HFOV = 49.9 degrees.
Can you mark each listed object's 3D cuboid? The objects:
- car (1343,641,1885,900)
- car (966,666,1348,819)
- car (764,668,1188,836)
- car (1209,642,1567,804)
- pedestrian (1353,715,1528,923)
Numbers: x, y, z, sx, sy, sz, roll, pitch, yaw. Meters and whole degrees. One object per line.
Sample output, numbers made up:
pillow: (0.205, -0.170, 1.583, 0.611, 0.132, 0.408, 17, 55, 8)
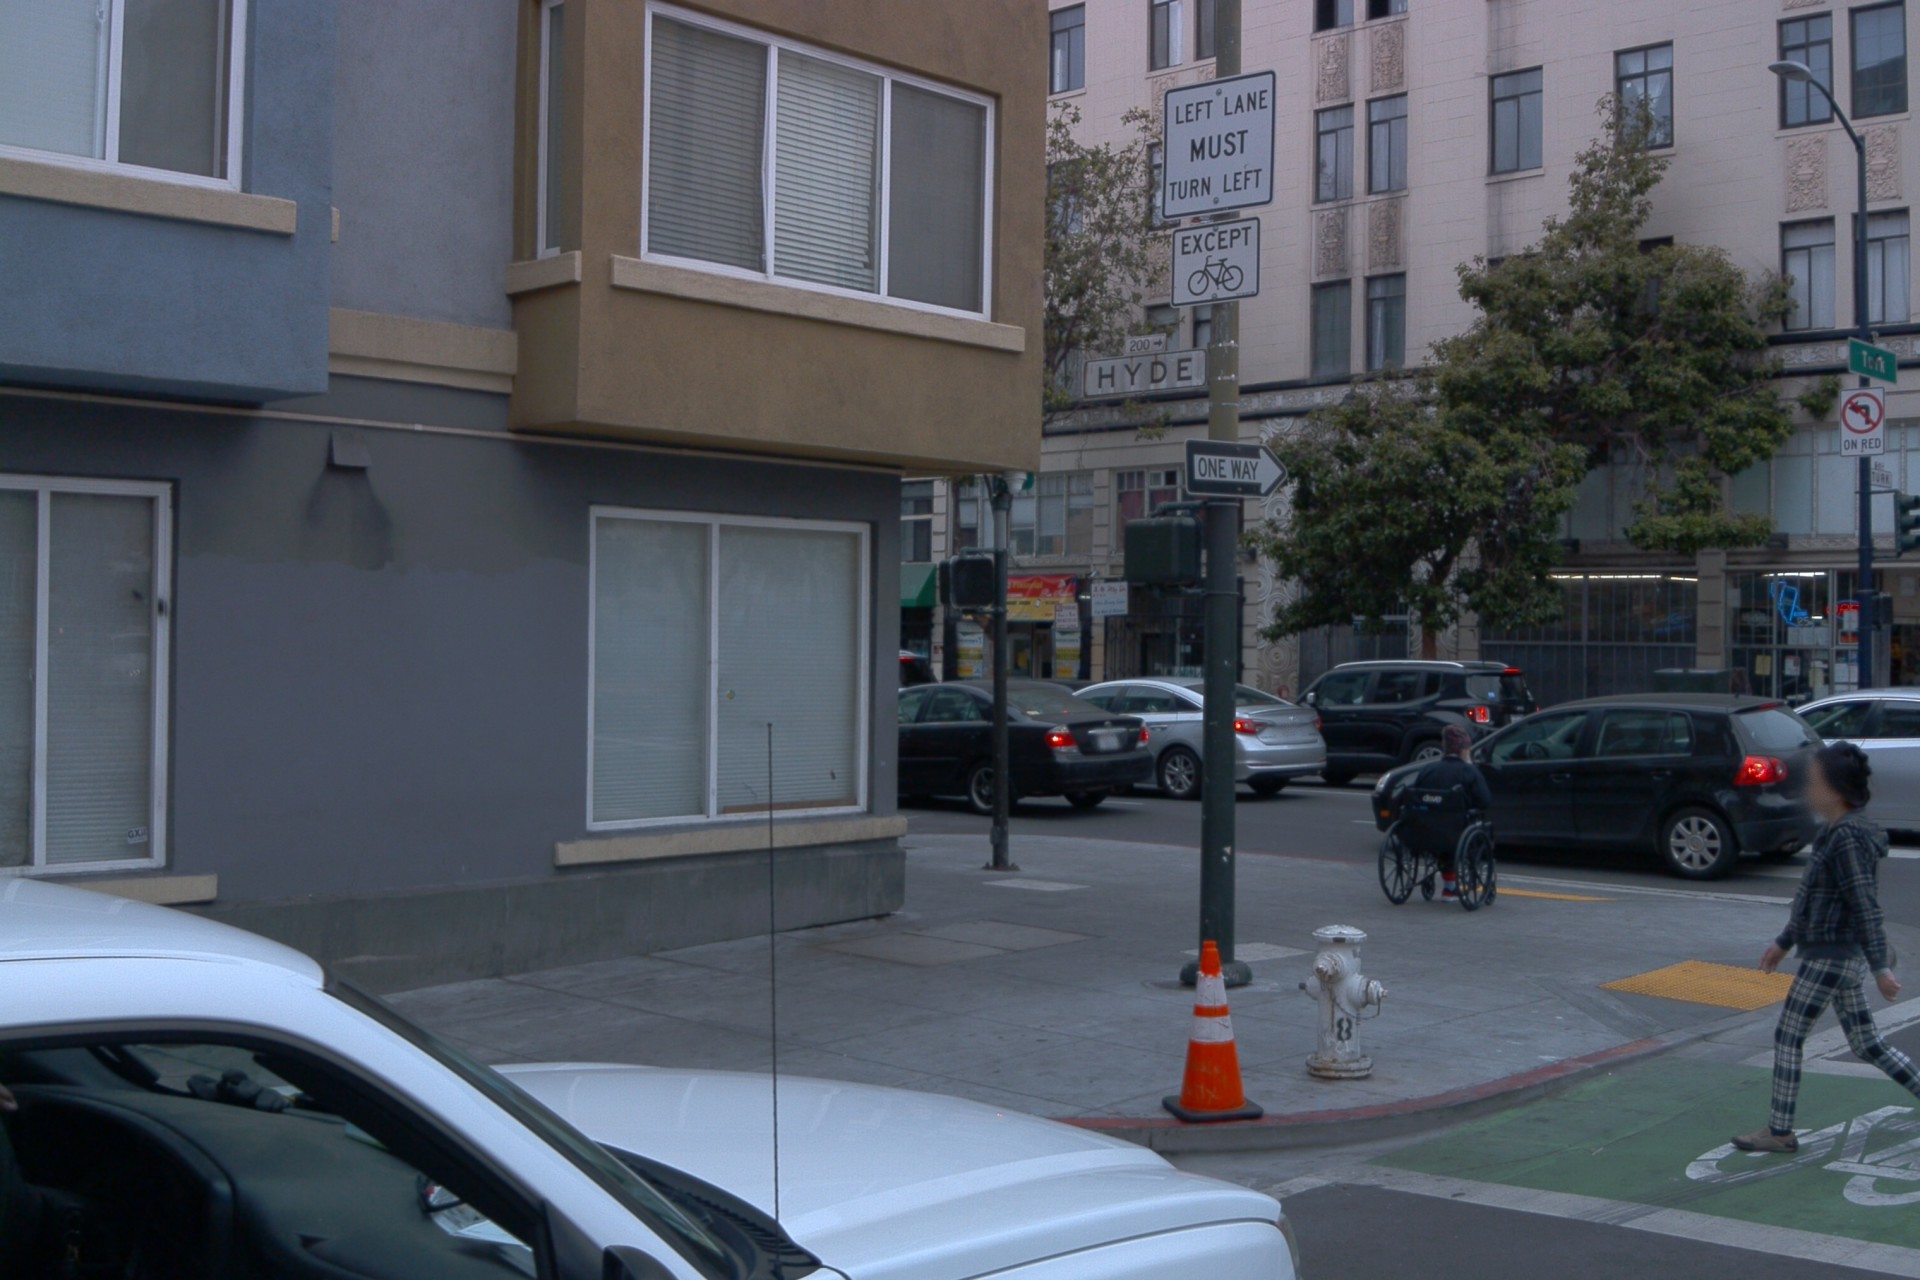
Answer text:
car: (5.699, 1.025, 18.344, 1.871, 1.950, 4.194, -1, 1, -45)
car: (2.381, 1.198, 25.873, 1.939, 1.600, 4.599, -1, 1, -44)
car: (0.091, 1.195, 23.913, 4.803, 1.600, 2.070, 1, 1, 44)
car: (5.533, 1.007, 27.053, 1.925, 1.870, 4.231, -1, 1, -45)
pedestrian: (3.503, 1.268, 15.017, 0.883, 1.370, 1.026, 1, 1, 38)
